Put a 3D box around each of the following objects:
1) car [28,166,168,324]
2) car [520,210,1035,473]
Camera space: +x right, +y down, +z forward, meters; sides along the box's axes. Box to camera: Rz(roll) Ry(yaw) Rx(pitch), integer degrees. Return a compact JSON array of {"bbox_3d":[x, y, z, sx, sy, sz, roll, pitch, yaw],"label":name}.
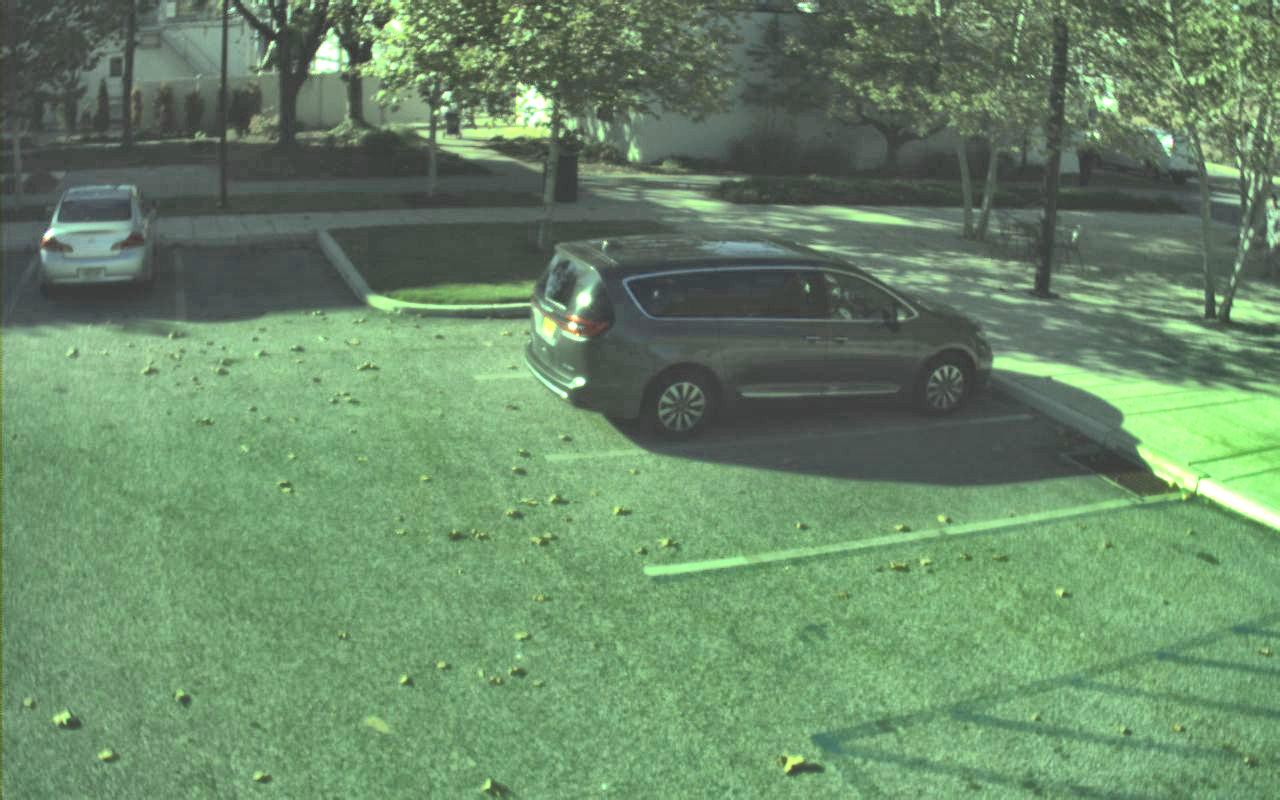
[{"bbox_3d":[-8.230,-2.441,17.563,1.921,1.581,4.390,-8,18,-22],"label":"car"},{"bbox_3d":[1.473,-0.786,12.972,4.967,1.807,2.069,-7,17,-21],"label":"car"}]
